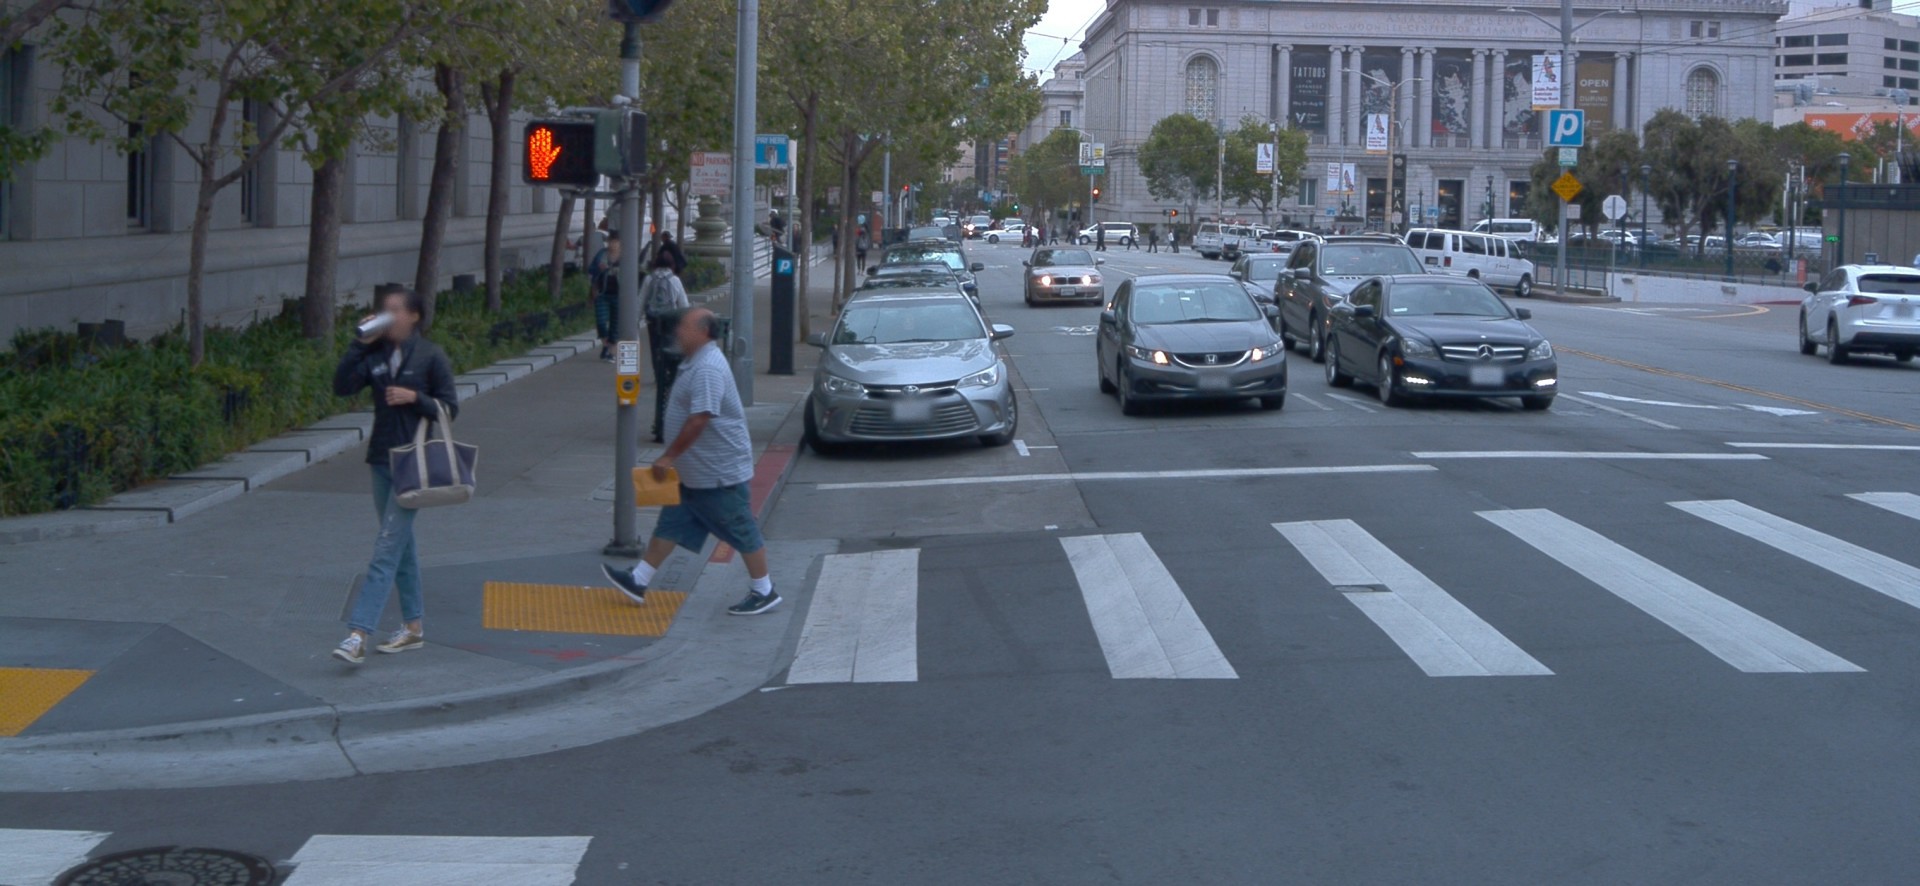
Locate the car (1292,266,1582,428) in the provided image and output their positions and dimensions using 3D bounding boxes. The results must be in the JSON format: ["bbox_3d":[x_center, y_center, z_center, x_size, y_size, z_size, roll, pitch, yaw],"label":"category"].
[{"bbox_3d":[5.220,-1.172,23.222,2.019,1.482,4.545,-1,6,-3],"label":"car"}]

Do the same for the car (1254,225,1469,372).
[{"bbox_3d":[5.706,-2.177,29.917,2.128,1.890,4.701,0,6,-1],"label":"car"}]

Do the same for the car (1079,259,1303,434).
[{"bbox_3d":[2.461,-1.175,23.046,2.074,1.621,4.573,0,6,1],"label":"car"}]

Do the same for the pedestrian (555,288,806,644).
[{"bbox_3d":[-1.534,0.070,11.209,1.161,1.761,0.998,-1,3,-20],"label":"pedestrian"}]

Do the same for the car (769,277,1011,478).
[{"bbox_3d":[-0.635,-0.770,20.600,2.130,1.581,4.806,0,6,0],"label":"car"}]

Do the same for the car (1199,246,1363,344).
[{"bbox_3d":[5.498,-2.637,35.929,2.097,1.481,4.736,0,6,0],"label":"car"}]

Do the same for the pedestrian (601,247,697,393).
[{"bbox_3d":[-3.637,-1.462,24.182,1.012,1.654,0.859,0,2,-2],"label":"pedestrian"}]

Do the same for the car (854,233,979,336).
[{"bbox_3d":[-0.793,-3.074,39.268,2.231,1.740,4.910,0,6,0],"label":"car"}]

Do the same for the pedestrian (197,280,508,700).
[{"bbox_3d":[-2.750,0.147,9.362,0.910,1.721,0.997,1,3,38],"label":"pedestrian"}]

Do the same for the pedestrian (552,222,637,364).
[{"bbox_3d":[-4.826,-1.999,27.312,0.896,1.831,0.977,0,2,3],"label":"pedestrian"}]
